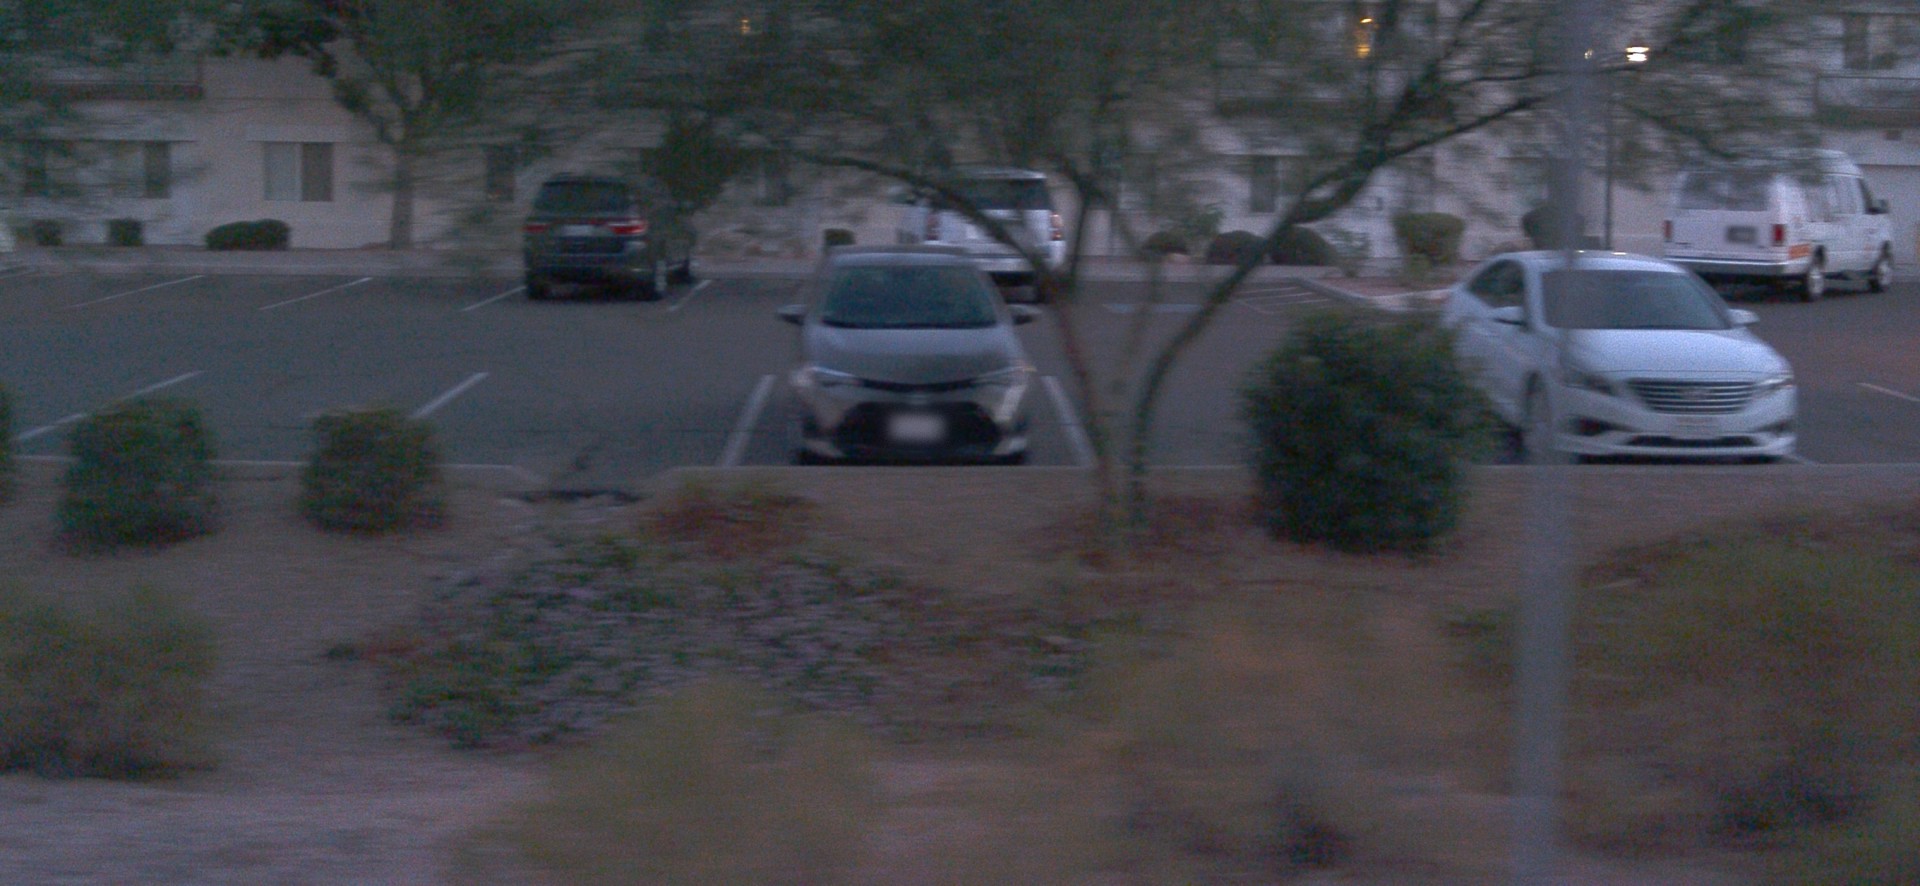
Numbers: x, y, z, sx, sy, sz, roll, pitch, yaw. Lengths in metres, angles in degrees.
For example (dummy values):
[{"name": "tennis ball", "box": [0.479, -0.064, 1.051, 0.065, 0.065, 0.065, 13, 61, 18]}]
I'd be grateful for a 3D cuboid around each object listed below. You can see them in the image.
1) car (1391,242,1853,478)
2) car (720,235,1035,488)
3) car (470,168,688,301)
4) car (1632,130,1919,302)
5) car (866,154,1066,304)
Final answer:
[{"name": "car", "box": [4.994, -0.800, 16.511, 2.177, 1.563, 4.962, 0, 5, 1]}, {"name": "car", "box": [-0.698, -0.777, 16.088, 2.090, 1.643, 4.691, 0, 5, -4]}, {"name": "car", "box": [-5.408, -3.044, 30.177, 2.079, 1.762, 5.034, 0, 5, 2]}, {"name": "car", "box": [13.059, -3.586, 32.965, 2.448, 2.473, 6.019, 3, 6, 40]}, {"name": "car", "box": [-0.042, -3.107, 30.160, 2.377, 1.962, 5.443, 0, 5, -6]}]
